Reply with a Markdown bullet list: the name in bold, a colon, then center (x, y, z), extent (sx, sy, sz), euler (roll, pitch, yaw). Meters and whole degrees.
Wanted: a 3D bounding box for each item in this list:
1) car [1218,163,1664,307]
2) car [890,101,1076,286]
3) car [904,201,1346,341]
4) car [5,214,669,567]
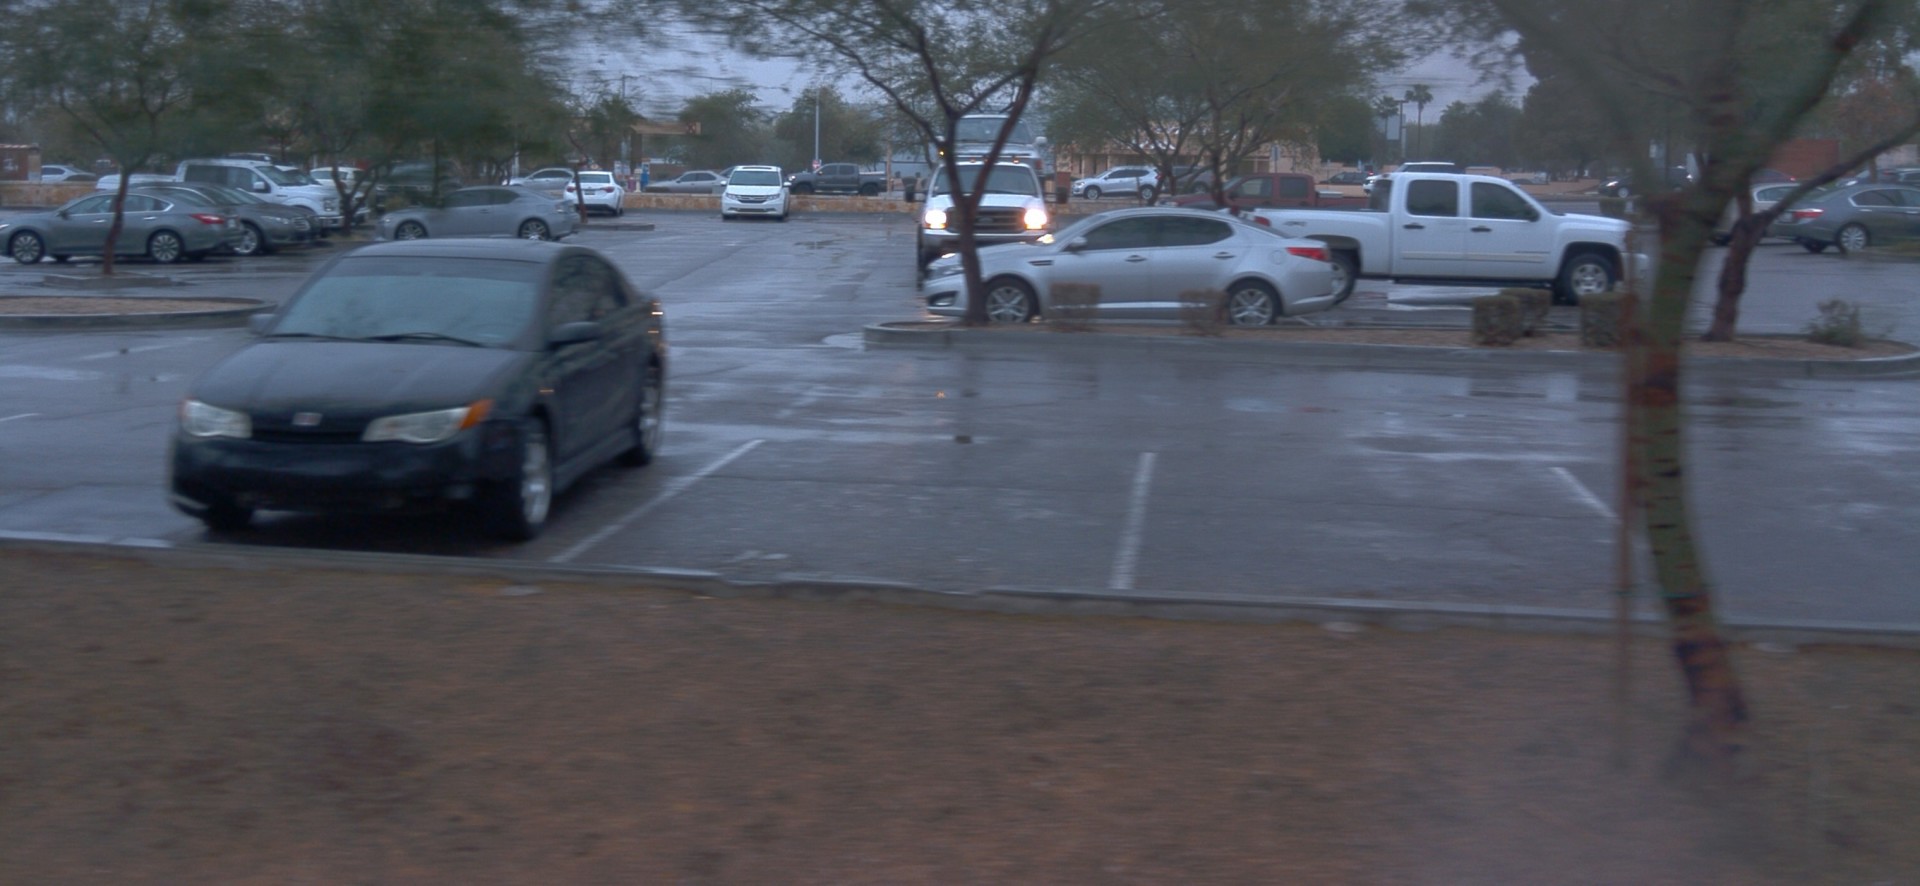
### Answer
- **car**: center (6.796, -2.994, 29.895), extent (5.900, 1.946, 2.280), euler (0, 3, 0)
- **car**: center (0.234, -4.293, 36.488), extent (2.854, 2.828, 8.829), euler (0, 5, -2)
- **car**: center (1.845, -2.038, 24.384), extent (4.942, 1.536, 2.209), euler (0, 4, -1)
- **car**: center (-3.037, -0.467, 11.344), extent (1.965, 1.504, 4.675), euler (1, 5, 3)
